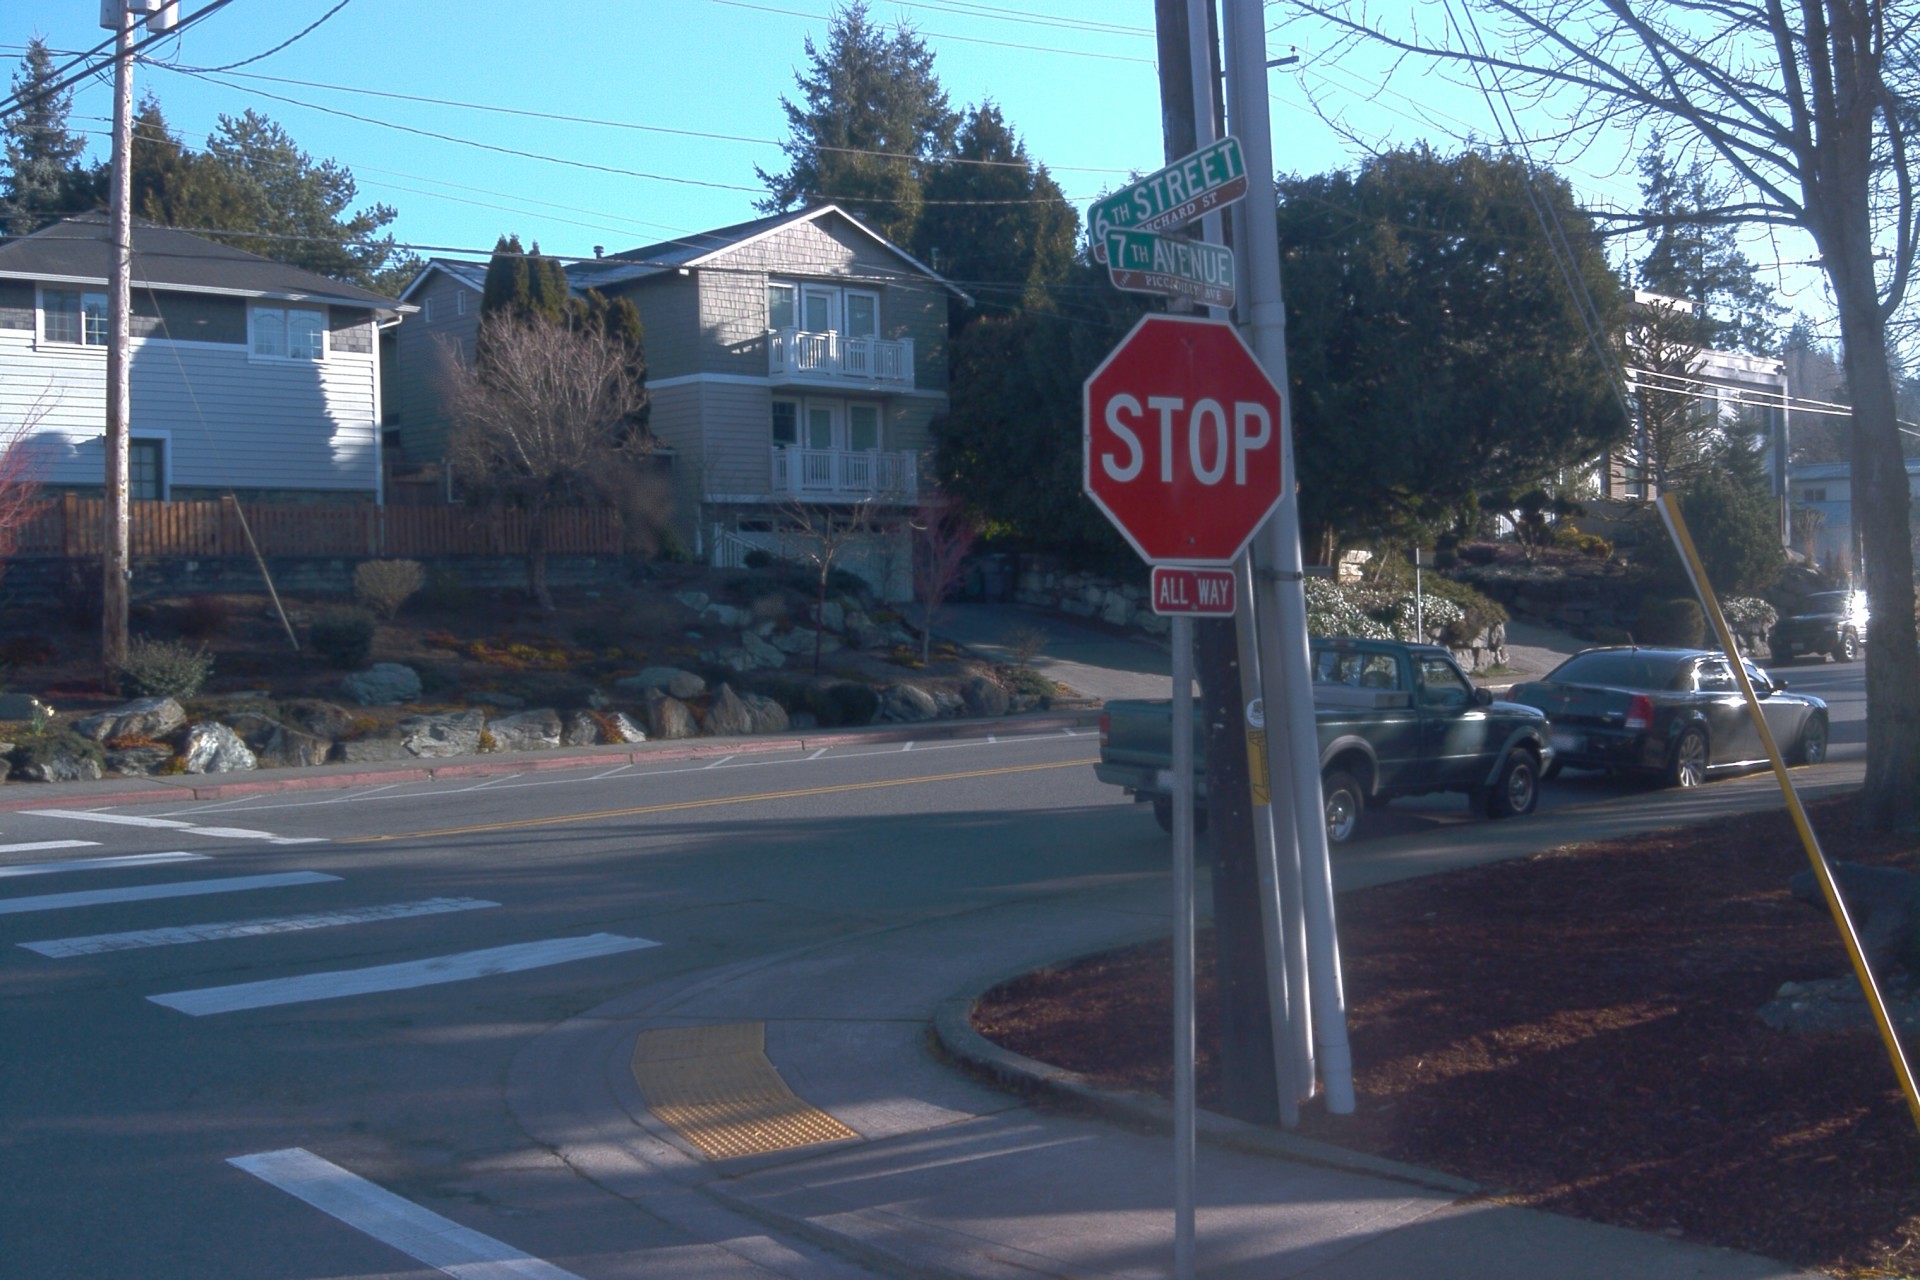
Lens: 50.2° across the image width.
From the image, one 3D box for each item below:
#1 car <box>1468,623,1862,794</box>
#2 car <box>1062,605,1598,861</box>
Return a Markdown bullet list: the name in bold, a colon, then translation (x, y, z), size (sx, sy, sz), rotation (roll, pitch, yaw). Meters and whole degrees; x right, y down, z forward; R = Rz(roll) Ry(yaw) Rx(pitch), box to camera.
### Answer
- **car**: translation (7.816, 0.656, 22.432), size (4.858, 1.660, 2.112), rotation (0, 1, -44)
- **car**: translation (3.387, 0.687, 17.953), size (2.128, 1.920, 5.099), rotation (1, 1, 44)
